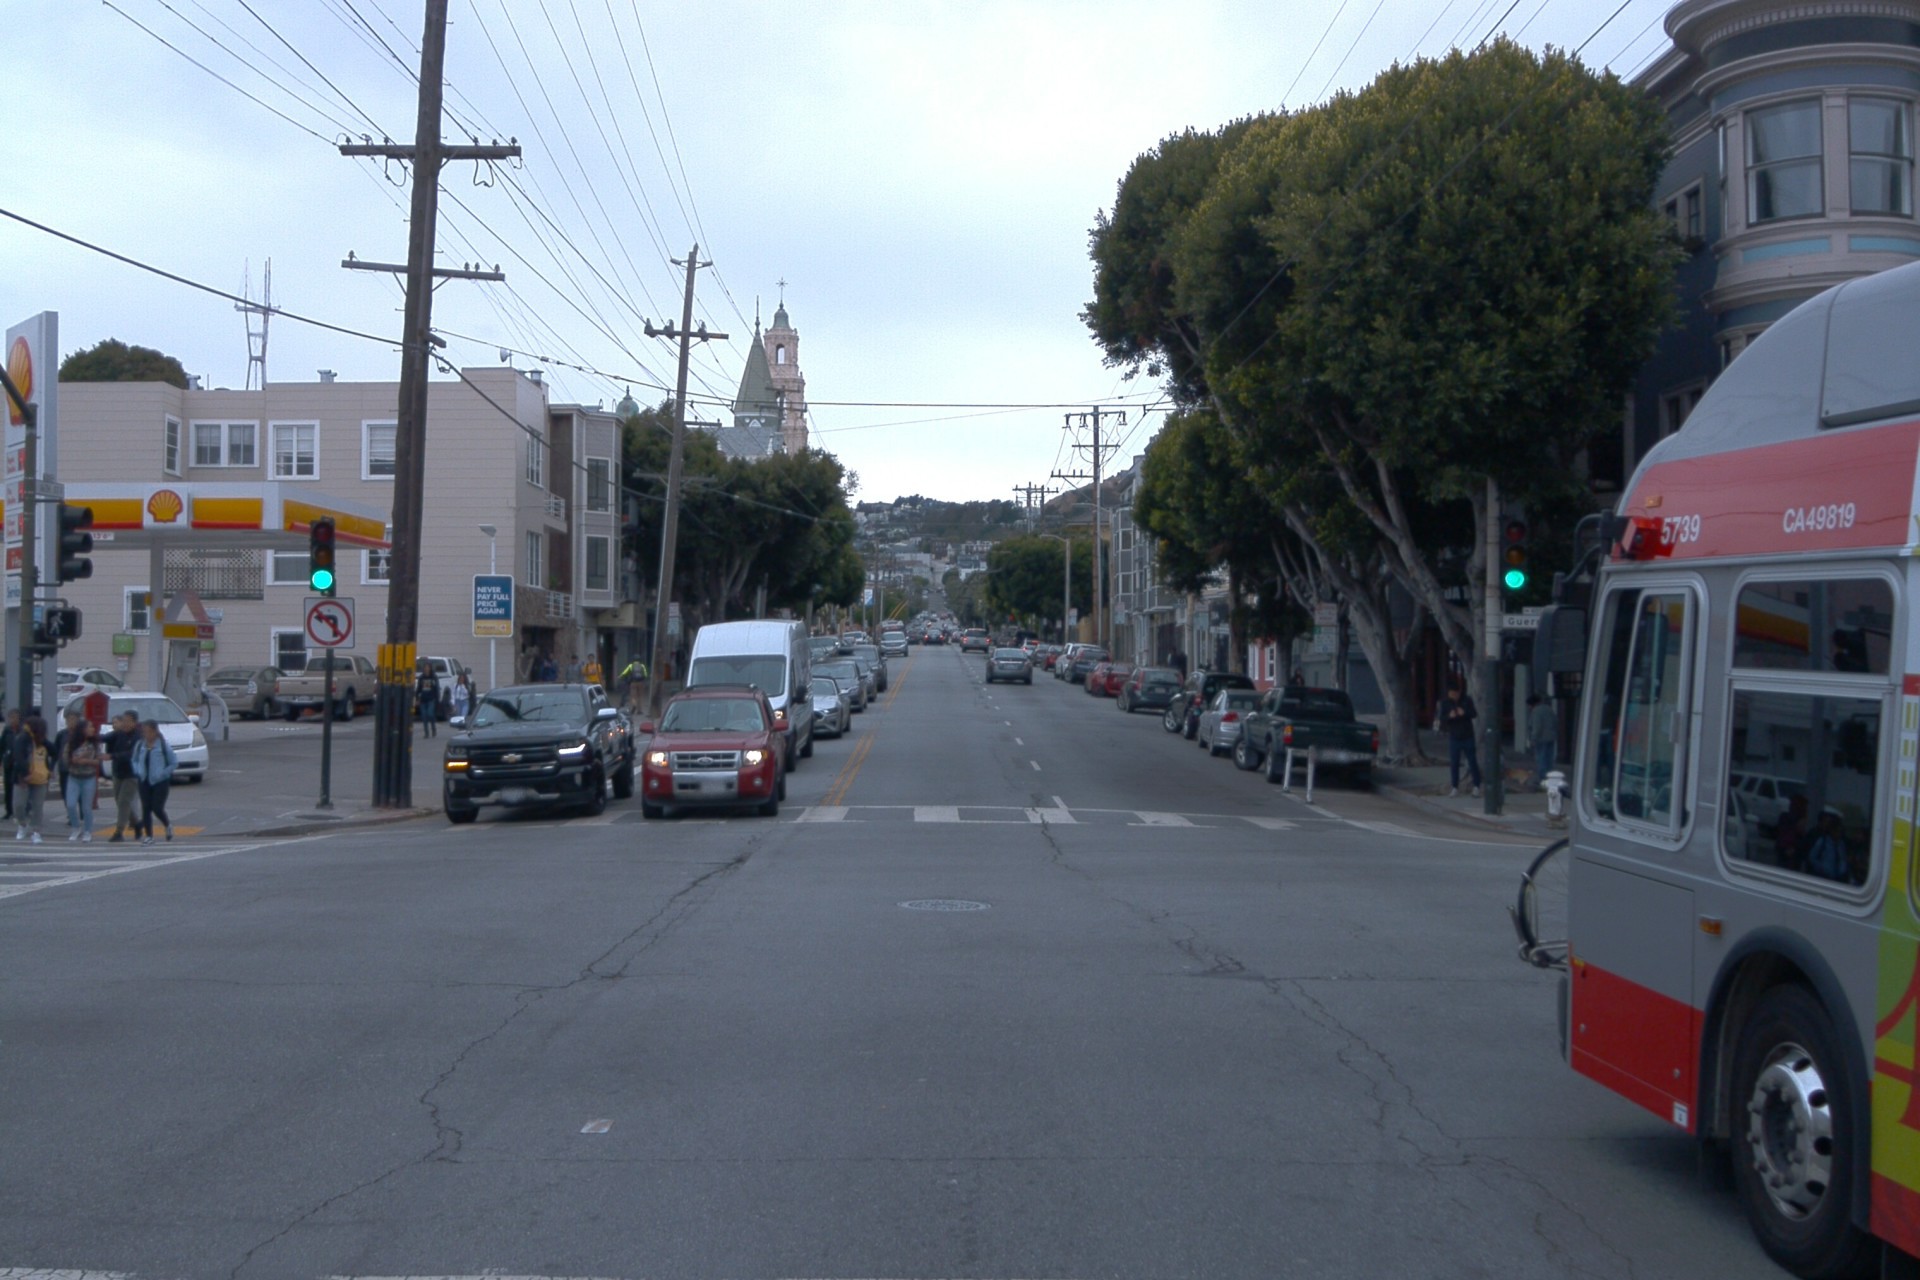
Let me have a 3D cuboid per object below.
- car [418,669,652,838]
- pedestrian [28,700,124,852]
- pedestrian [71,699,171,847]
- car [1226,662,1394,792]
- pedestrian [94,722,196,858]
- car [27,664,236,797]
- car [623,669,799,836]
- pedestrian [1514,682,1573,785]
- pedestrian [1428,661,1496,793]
[{"bbox_3d":[-6.010,1.534,29.895,2.330,2.022,5.827,0,1,-2],"label":"car"},{"bbox_3d":[-10.698,1.627,24.917,0.795,1.760,0.907,0,1,-3],"label":"pedestrian"},{"bbox_3d":[-10.398,1.633,25.507,0.844,1.770,0.883,0,1,2],"label":"pedestrian"},{"bbox_3d":[6.286,1.505,37.566,2.095,2.060,5.274,0,1,-1],"label":"car"},{"bbox_3d":[-9.513,1.737,24.030,0.757,1.497,0.949,0,1,4],"label":"pedestrian"},{"bbox_3d":[-13.898,1.439,34.361,2.085,1.930,4.539,-1,1,-37],"label":"car"},{"bbox_3d":[-3.390,1.483,28.794,2.093,2.009,4.396,0,1,-2],"label":"car"},{"bbox_3d":[9.788,1.554,34.509,0.927,1.670,0.893,0,1,15],"label":"pedestrian"},{"bbox_3d":[7.970,1.366,32.637,0.811,2.030,0.722,0,1,39],"label":"pedestrian"}]
